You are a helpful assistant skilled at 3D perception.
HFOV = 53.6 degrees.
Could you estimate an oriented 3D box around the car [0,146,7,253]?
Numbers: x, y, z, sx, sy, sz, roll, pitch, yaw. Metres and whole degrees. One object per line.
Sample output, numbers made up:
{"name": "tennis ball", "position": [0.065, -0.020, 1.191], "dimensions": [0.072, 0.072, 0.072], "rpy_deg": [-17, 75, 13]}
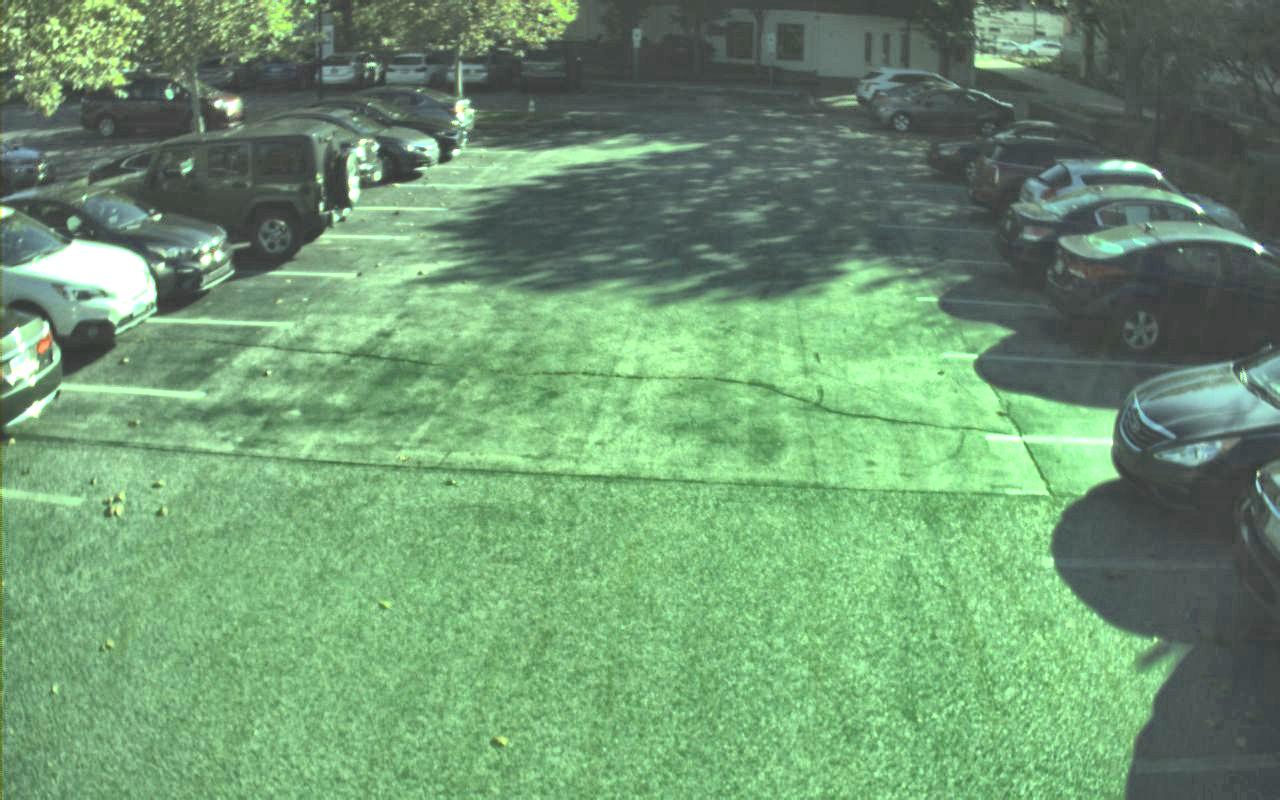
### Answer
{"name": "car", "position": [-14.761, -3.845, 20.888], "dimensions": [4.409, 1.607, 1.961], "rpy_deg": [2, 16, 9]}

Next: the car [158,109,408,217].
{"name": "car", "position": [-6.751, -4.454, 22.692], "dimensions": [4.390, 1.644, 1.963], "rpy_deg": [1, 16, 8]}

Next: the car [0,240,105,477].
{"name": "car", "position": [-7.436, -0.449, 10.118], "dimensions": [4.488, 1.595, 1.964], "rpy_deg": [2, 16, 9]}

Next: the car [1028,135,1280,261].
{"name": "car", "position": [8.510, -3.278, 18.909], "dimensions": [4.355, 1.591, 1.928], "rpy_deg": [1, 16, 8]}

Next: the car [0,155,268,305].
{"name": "car", "position": [-7.256, -2.208, 15.276], "dimensions": [4.361, 1.545, 1.931], "rpy_deg": [1, 16, 7]}

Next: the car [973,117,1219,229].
{"name": "car", "position": [8.217, -4.104, 21.406], "dimensions": [4.353, 1.603, 1.971], "rpy_deg": [2, 16, 9]}

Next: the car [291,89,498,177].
{"name": "car", "position": [-5.459, -5.982, 27.395], "dimensions": [4.425, 1.609, 1.948], "rpy_deg": [-2, 16, -2]}

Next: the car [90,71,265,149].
{"name": "car", "position": [-13.287, -8.243, 33.280], "dimensions": [4.833, 1.738, 2.038], "rpy_deg": [1, 16, 6]}

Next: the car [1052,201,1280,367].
{"name": "car", "position": [7.219, -1.391, 13.913], "dimensions": [4.324, 1.542, 1.908], "rpy_deg": [1, 16, 7]}

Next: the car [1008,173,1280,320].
{"name": "car", "position": [7.435, -2.169, 16.496], "dimensions": [4.434, 1.586, 1.962], "rpy_deg": [2, 16, 9]}

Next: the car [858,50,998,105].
{"name": "car", "position": [9.753, -10.939, 41.151], "dimensions": [4.558, 1.682, 2.003], "rpy_deg": [0, 16, 3]}

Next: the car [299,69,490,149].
{"name": "car", "position": [-6.040, -7.171, 30.062], "dimensions": [4.375, 1.638, 1.977], "rpy_deg": [0, 16, 4]}

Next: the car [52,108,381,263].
{"name": "car", "position": [-6.368, -3.195, 17.761], "dimensions": [4.668, 1.842, 2.034], "rpy_deg": [0, 16, 3]}

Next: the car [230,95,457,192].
{"name": "car", "position": [-6.112, -5.304, 25.124], "dimensions": [4.427, 1.607, 1.946], "rpy_deg": [-1, 16, 0]}

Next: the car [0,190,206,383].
{"name": "car", "position": [-7.439, -1.322, 12.942], "dimensions": [4.602, 1.667, 2.006], "rpy_deg": [2, 17, 11]}
